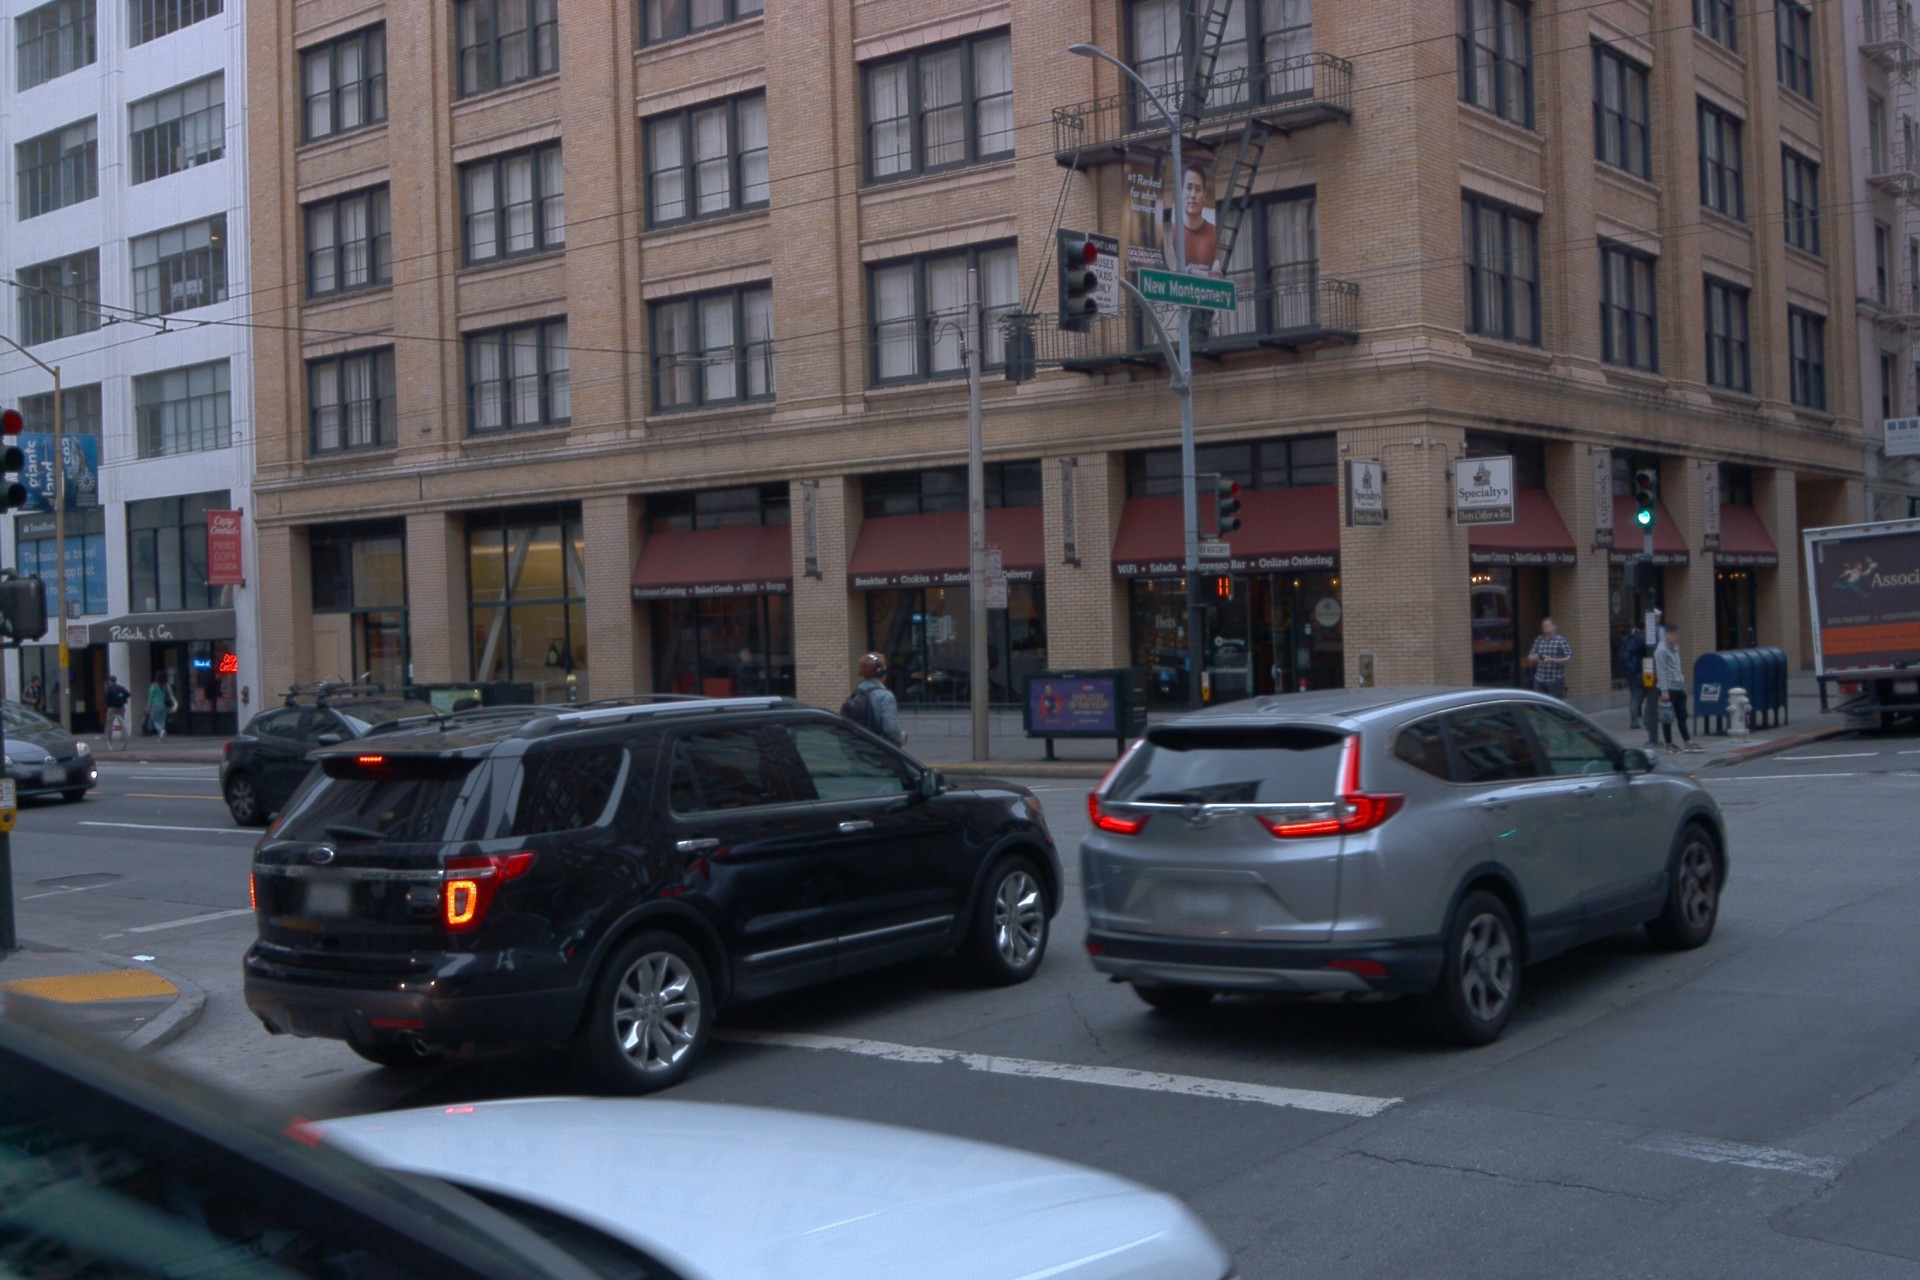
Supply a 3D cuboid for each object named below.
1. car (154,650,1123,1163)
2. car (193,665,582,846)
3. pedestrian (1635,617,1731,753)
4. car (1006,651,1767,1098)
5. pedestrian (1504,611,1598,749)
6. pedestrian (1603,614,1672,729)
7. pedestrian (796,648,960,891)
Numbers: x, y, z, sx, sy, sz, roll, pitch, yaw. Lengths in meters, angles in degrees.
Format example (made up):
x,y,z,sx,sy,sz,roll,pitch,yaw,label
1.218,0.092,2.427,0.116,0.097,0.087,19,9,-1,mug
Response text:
x,y,z,sx,sy,sz,roll,pitch,yaw,label
-1.414,1.102,11.080,2.271,1.970,4.960,1,1,37,car
-6.532,1.213,23.378,4.370,1.740,2.024,1,1,38,car
9.748,0.583,27.839,0.965,1.787,0.791,1,1,44,pedestrian
2.494,1.007,11.143,2.071,1.780,4.552,1,1,41,car
8.319,0.546,29.077,0.938,1.900,0.901,-1,1,-41,pedestrian
10.565,0.479,32.157,0.765,1.750,0.930,1,1,36,pedestrian
-0.664,1.020,16.863,0.755,1.880,1.170,1,1,38,pedestrian
